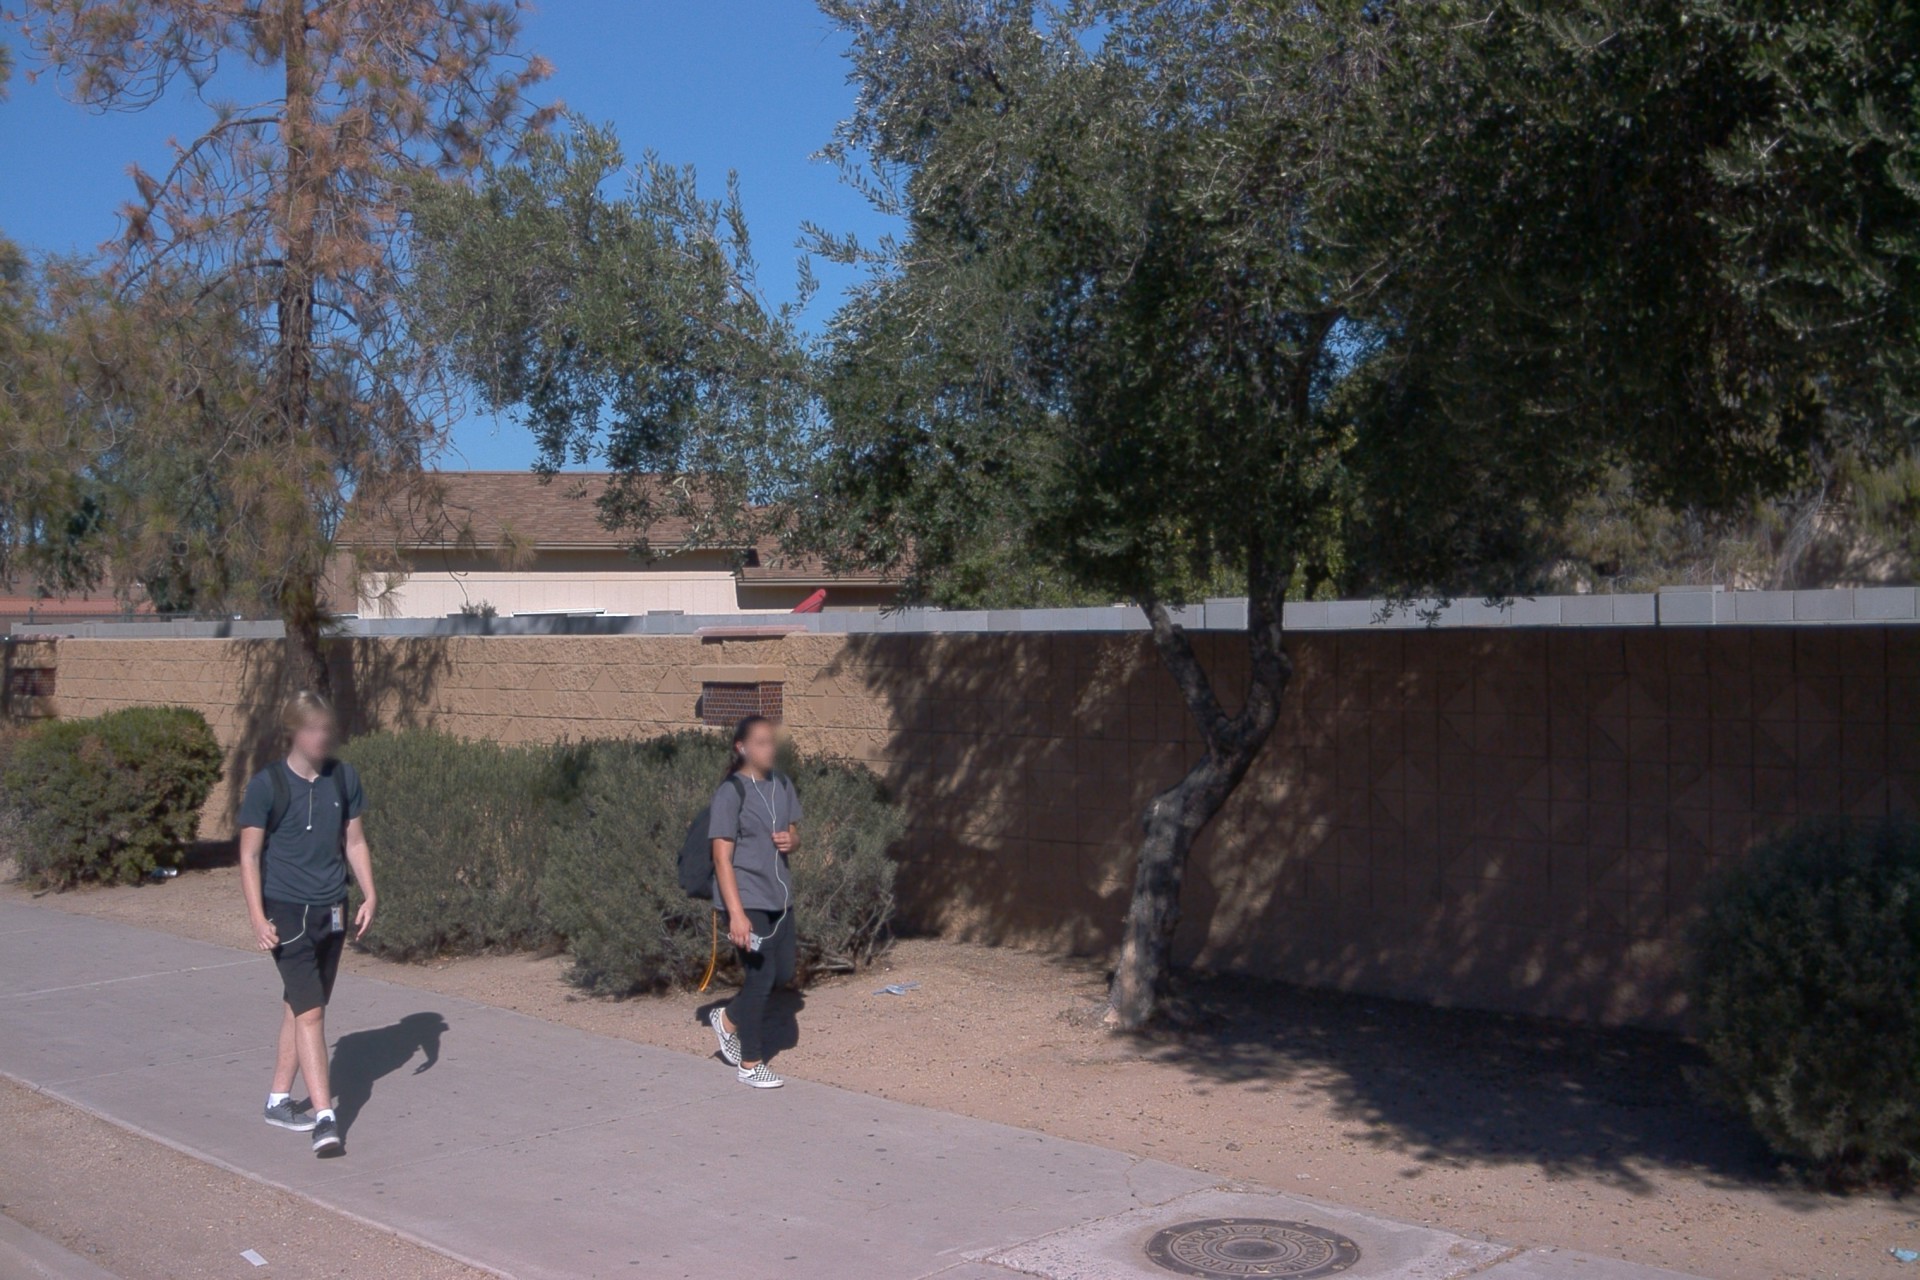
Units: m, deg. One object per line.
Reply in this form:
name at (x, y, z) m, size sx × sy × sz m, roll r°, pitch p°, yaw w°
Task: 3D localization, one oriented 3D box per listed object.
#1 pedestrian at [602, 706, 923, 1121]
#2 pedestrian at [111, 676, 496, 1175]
pedestrian at (-0.874, 1.143, 9.239) m, size 1.005 × 1.680 × 0.996 m, roll 0°, pitch -1°, yaw 42°
pedestrian at (-2.678, 1.071, 8.488) m, size 1.167 × 1.840 × 1.037 m, roll 0°, pitch -1°, yaw 42°
